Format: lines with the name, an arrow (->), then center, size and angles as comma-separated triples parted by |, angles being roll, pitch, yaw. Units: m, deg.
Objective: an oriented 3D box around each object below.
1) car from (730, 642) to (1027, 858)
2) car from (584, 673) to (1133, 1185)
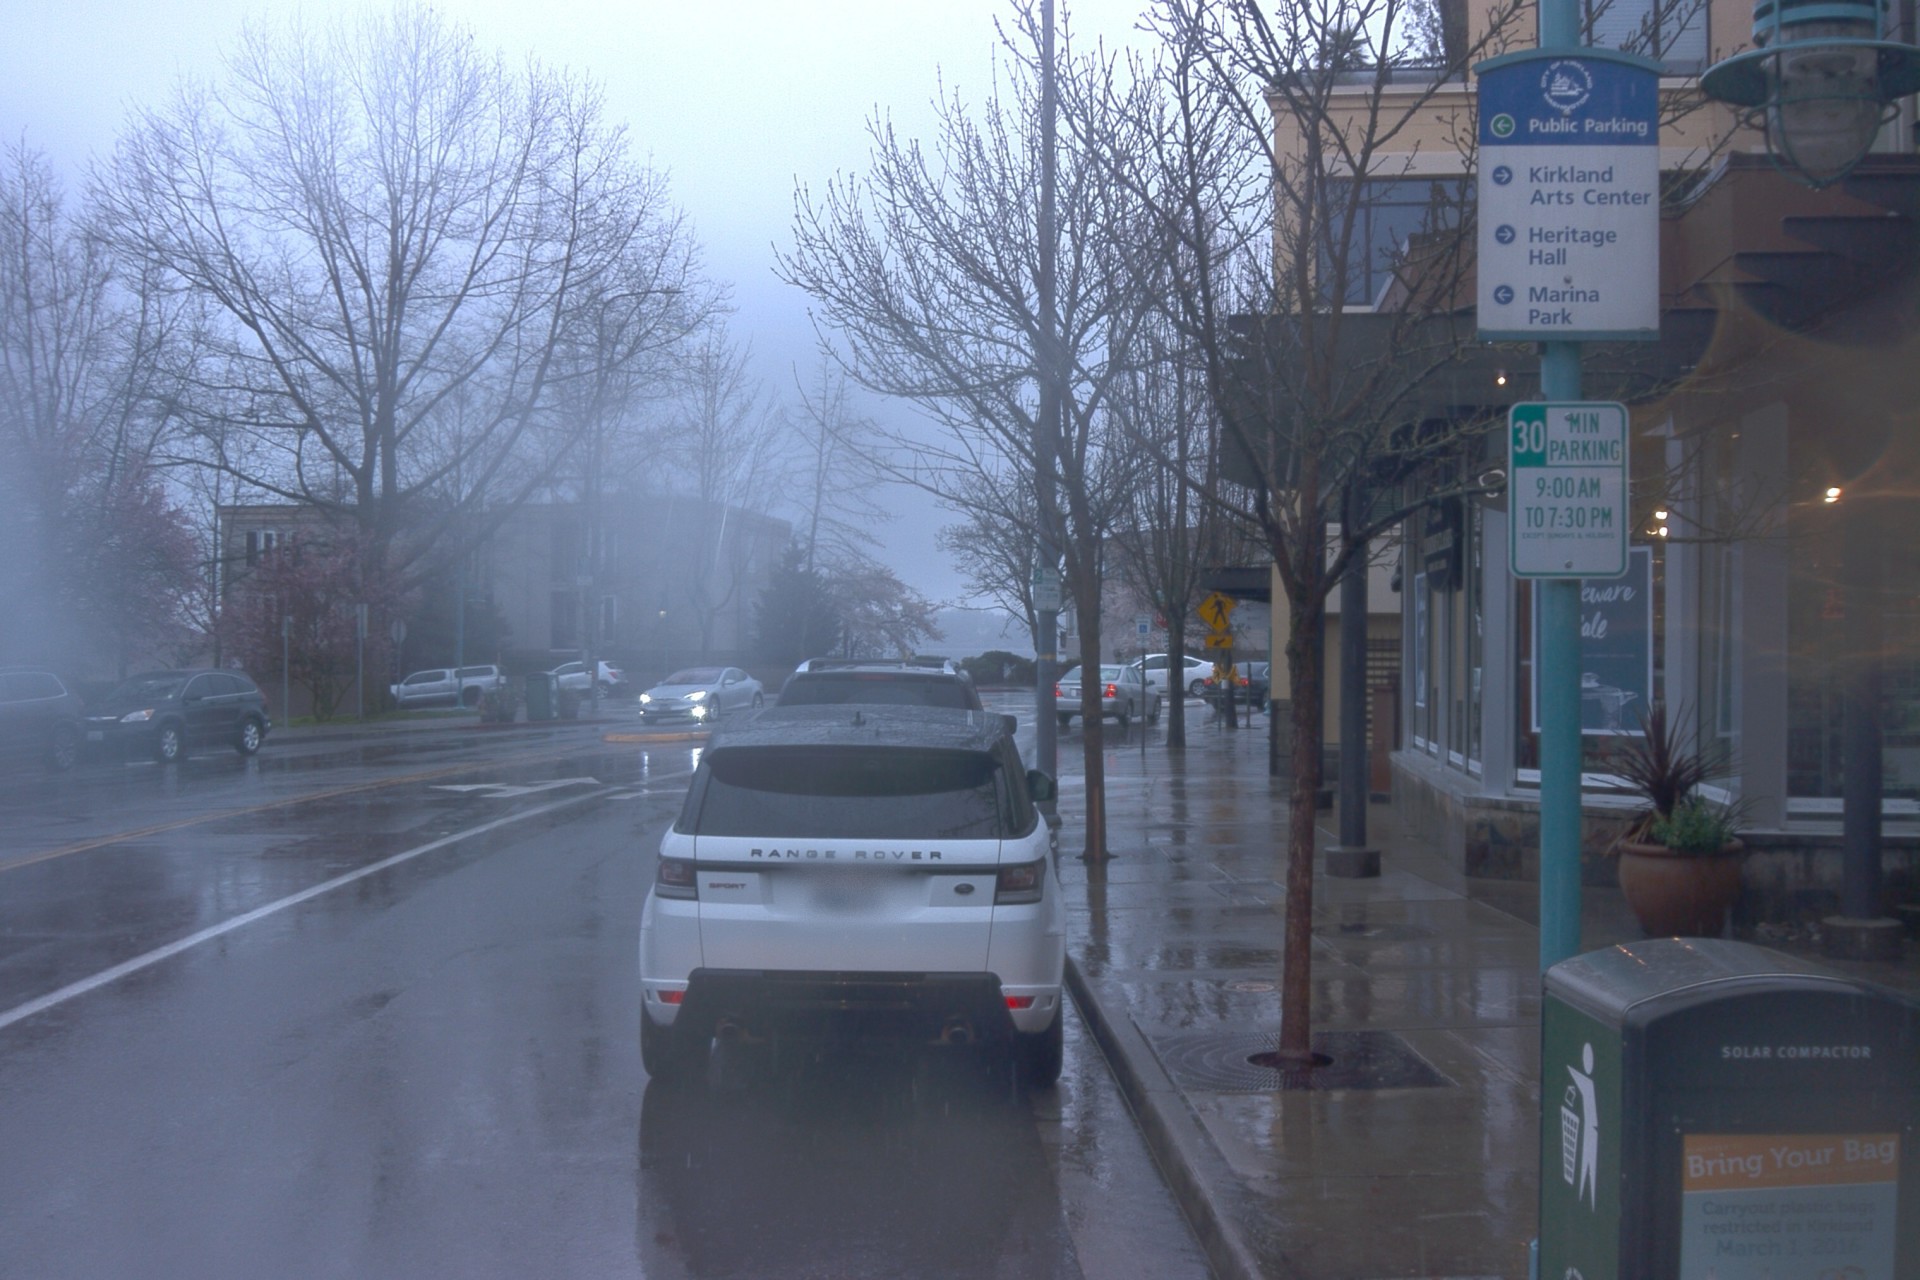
car -> -0.712, 0.831, 17.959 | 2.210, 1.560, 5.097 | 1, 0, -2
car -> -0.520, 1.259, 11.130 | 2.265, 2.000, 5.125 | 1, 0, -2
